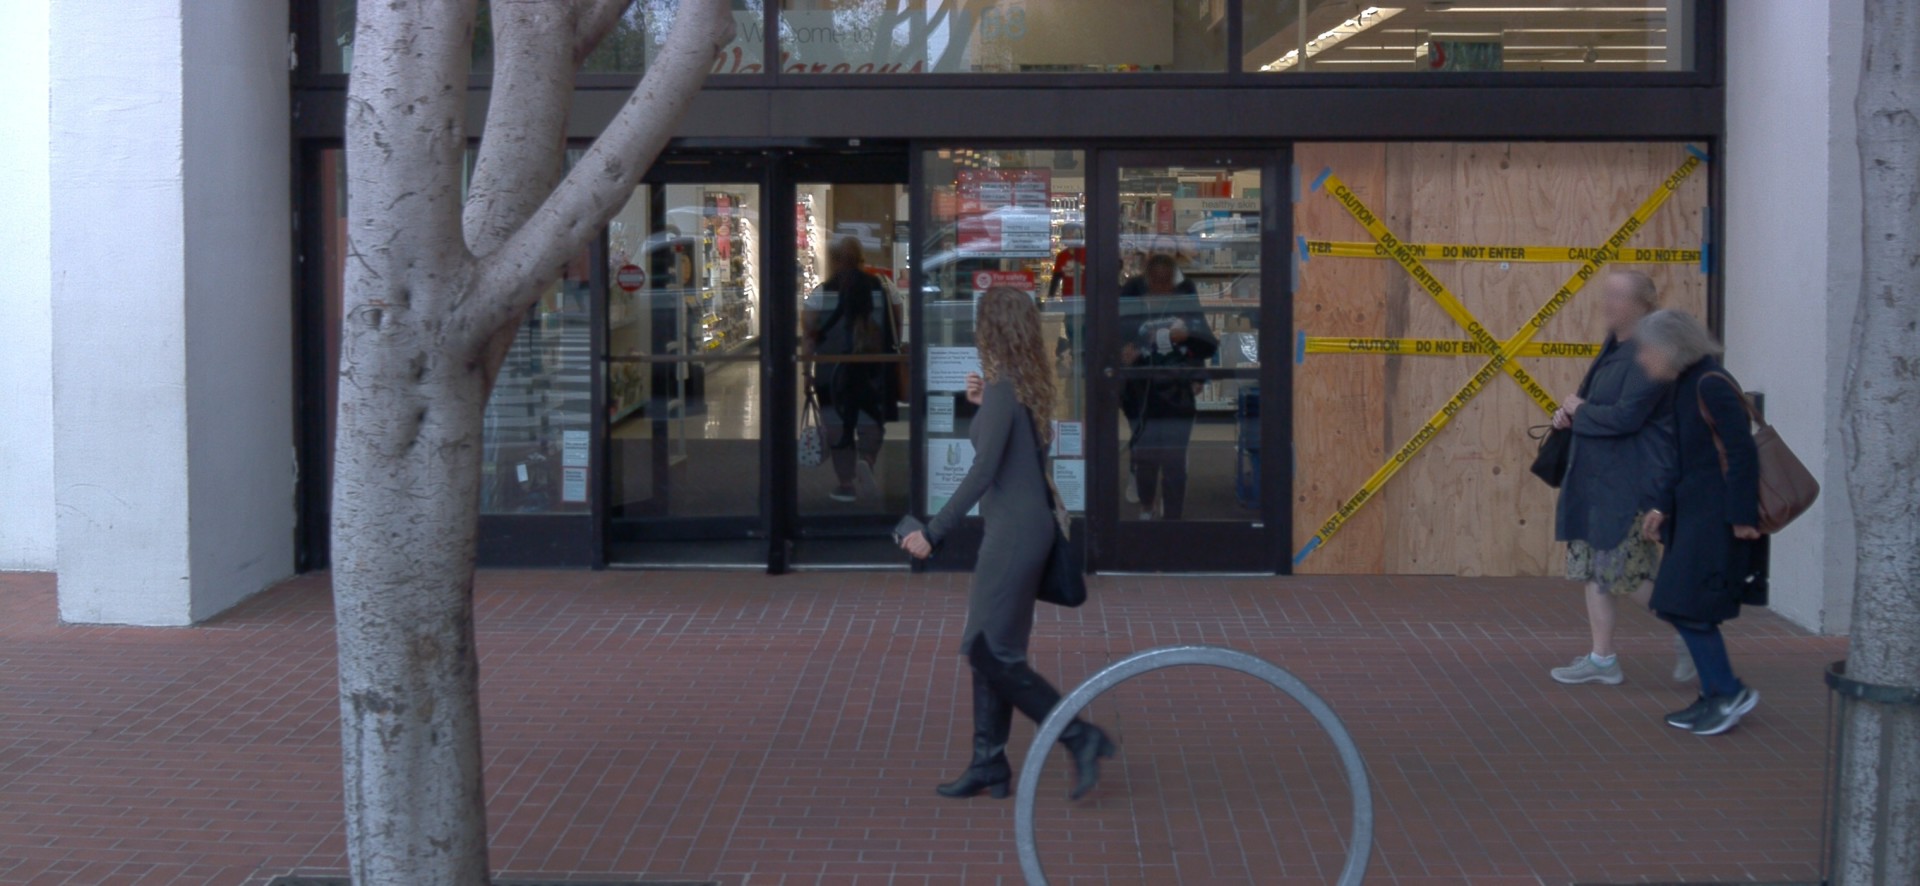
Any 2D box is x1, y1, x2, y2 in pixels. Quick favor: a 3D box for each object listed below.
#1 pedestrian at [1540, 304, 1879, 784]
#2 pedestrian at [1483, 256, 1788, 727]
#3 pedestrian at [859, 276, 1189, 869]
[{"bbox_3d":[2.586,0.307,7.175,0.893,1.555,0.782,0,1,-1],"label":"pedestrian"},{"bbox_3d":[2.576,0.143,7.912,0.915,1.715,0.742,0,1,-3],"label":"pedestrian"},{"bbox_3d":[0.208,0.344,6.472,0.969,1.725,0.848,0,1,3],"label":"pedestrian"}]
